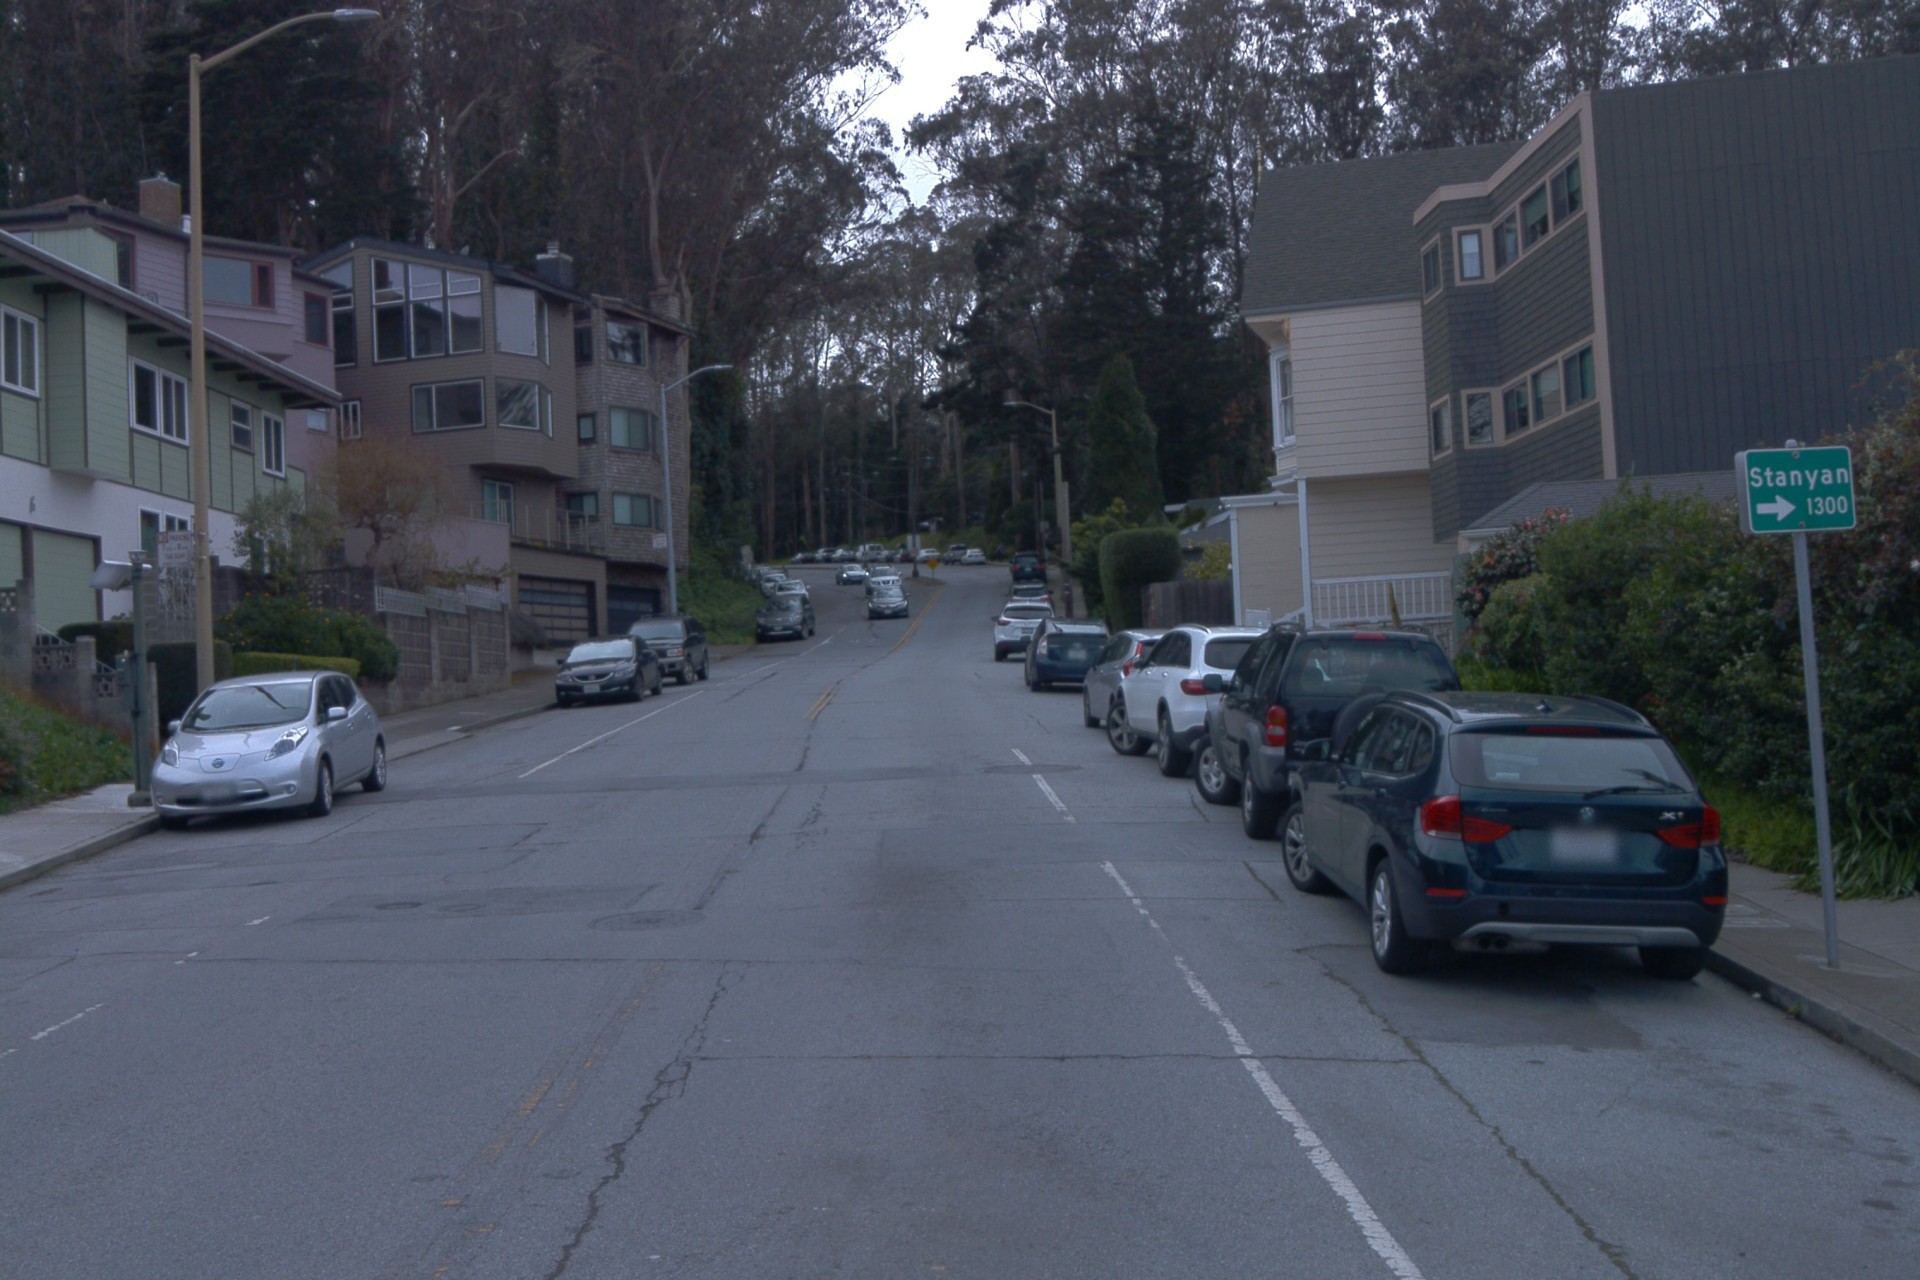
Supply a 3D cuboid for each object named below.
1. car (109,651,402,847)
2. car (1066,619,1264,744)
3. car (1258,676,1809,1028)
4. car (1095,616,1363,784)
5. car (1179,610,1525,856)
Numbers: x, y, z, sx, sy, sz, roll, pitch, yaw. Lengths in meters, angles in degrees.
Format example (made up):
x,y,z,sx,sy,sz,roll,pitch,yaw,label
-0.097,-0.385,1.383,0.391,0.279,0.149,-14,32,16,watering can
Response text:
x,y,z,sx,sy,sz,roll,pitch,yaw,label
-7.682,1.105,22.892,1.970,1.870,4.472,0,1,-4,car
2.829,0.528,29.322,2.037,1.630,4.249,0,1,-5,car
3.307,1.143,12.926,2.172,1.690,4.492,0,1,0,car
2.985,0.599,23.953,2.090,1.740,4.852,0,1,-5,car
3.300,0.698,18.320,2.205,1.910,4.613,0,1,0,car
